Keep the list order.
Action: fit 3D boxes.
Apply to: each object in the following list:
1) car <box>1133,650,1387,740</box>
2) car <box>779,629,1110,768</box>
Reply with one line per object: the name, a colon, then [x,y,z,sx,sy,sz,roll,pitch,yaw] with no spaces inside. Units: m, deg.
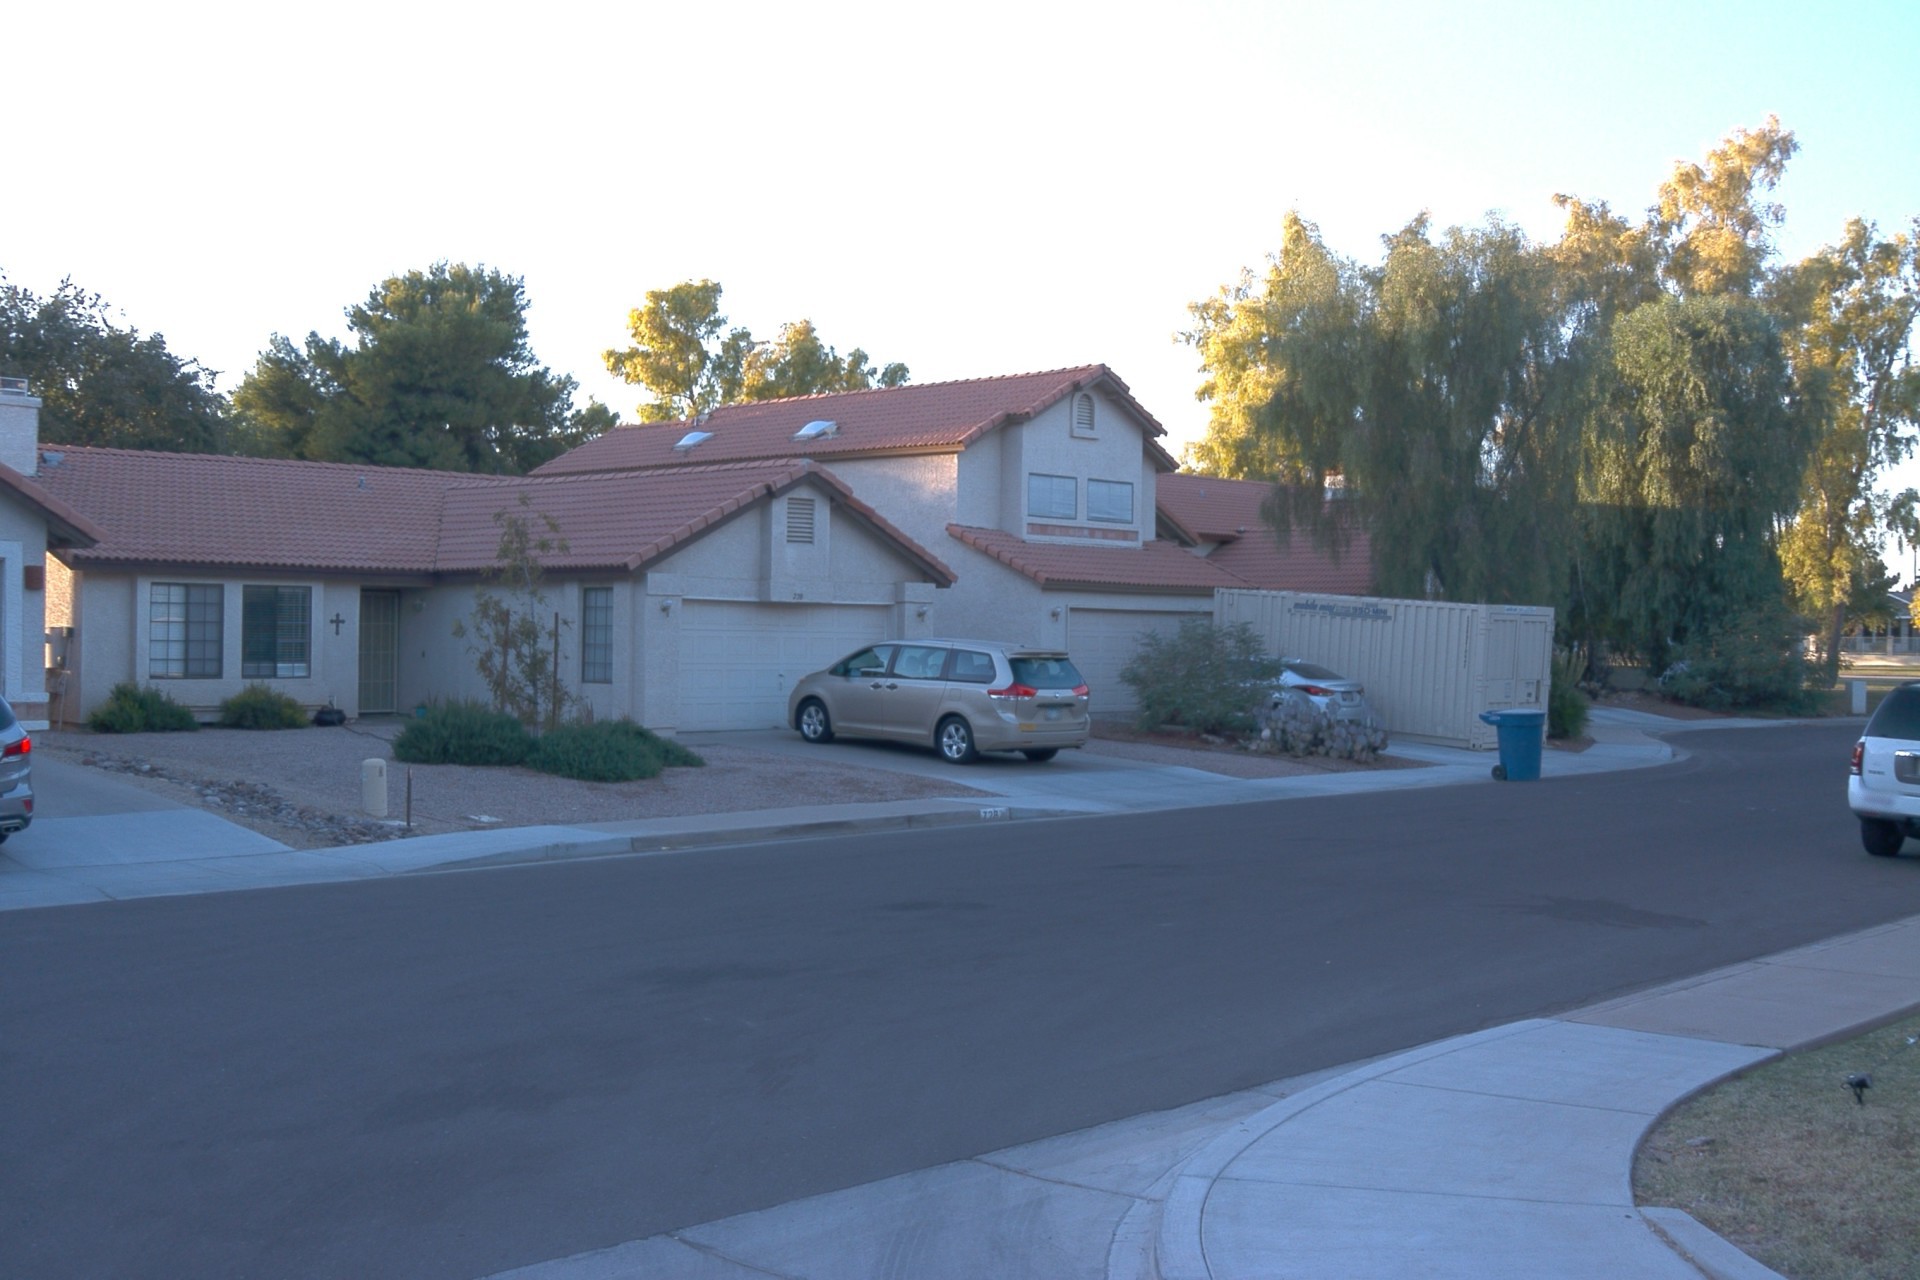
car: [5.509,0.980,38.491,4.304,1.560,2.021,0,-1,45]
car: [-0.305,0.825,31.139,4.850,1.910,2.173,0,-1,45]
